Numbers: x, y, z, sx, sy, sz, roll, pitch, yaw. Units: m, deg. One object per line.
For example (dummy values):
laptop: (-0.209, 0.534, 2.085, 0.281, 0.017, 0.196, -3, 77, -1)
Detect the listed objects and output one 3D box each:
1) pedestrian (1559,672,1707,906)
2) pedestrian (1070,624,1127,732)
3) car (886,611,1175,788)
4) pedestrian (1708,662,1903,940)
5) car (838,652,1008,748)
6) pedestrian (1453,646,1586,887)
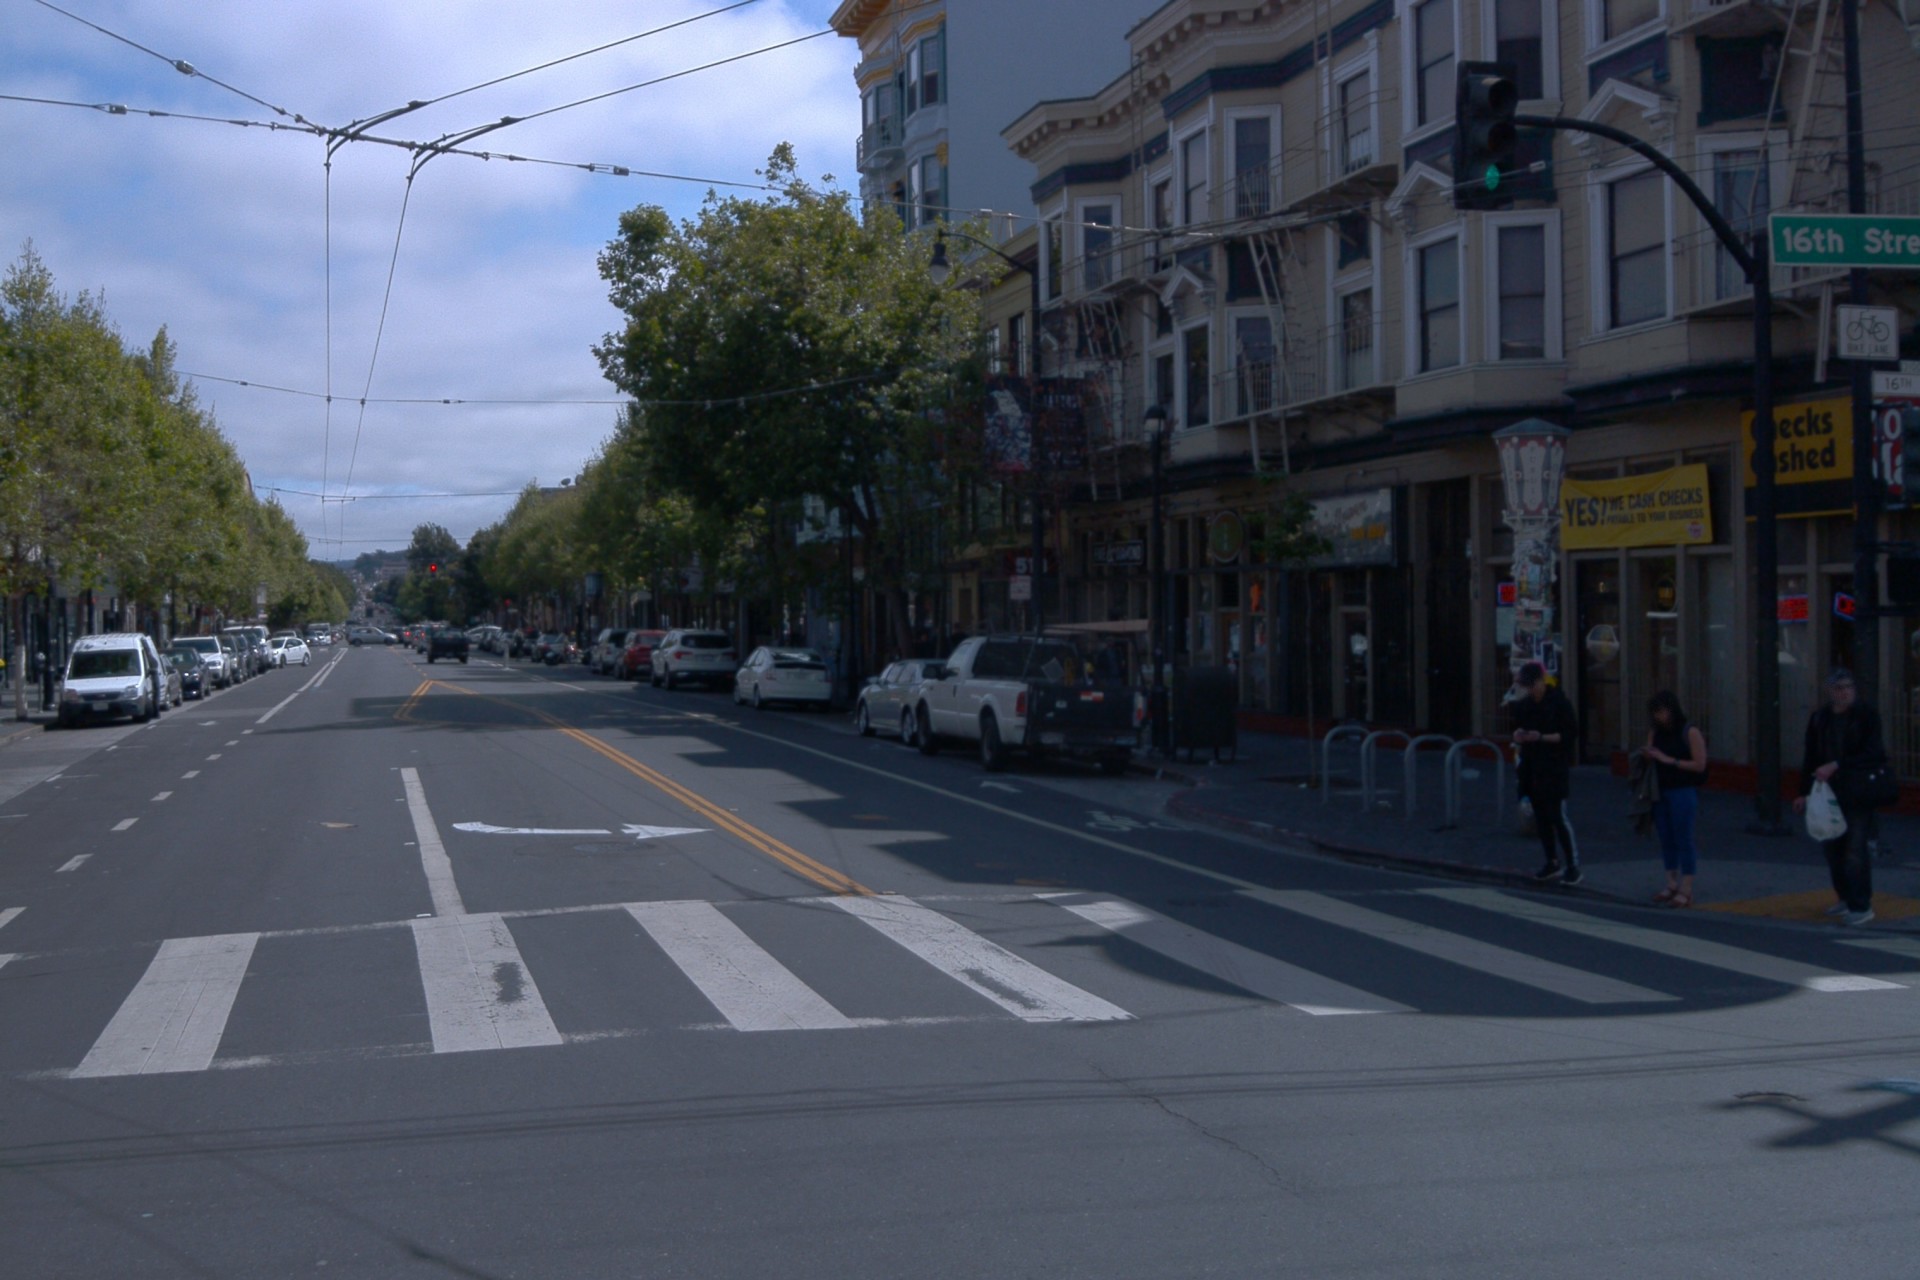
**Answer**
pedestrian: (5.300, 1.142, 16.192, 0.925, 1.750, 0.701, 0, 0, -36)
pedestrian: (2.480, 0.664, 36.868, 0.708, 1.890, 1.024, 0, 0, -15)
car: (0.844, 0.744, 30.055, 2.452, 2.290, 6.176, 0, 1, -16)
pedestrian: (6.219, 1.138, 15.123, 1.104, 1.920, 0.942, 0, 0, -43)
car: (-0.716, 0.983, 35.559, 1.624, 1.460, 4.487, 0, 1, -19)
pedestrian: (4.611, 1.016, 16.977, 0.764, 1.920, 0.751, 0, 0, -19)
